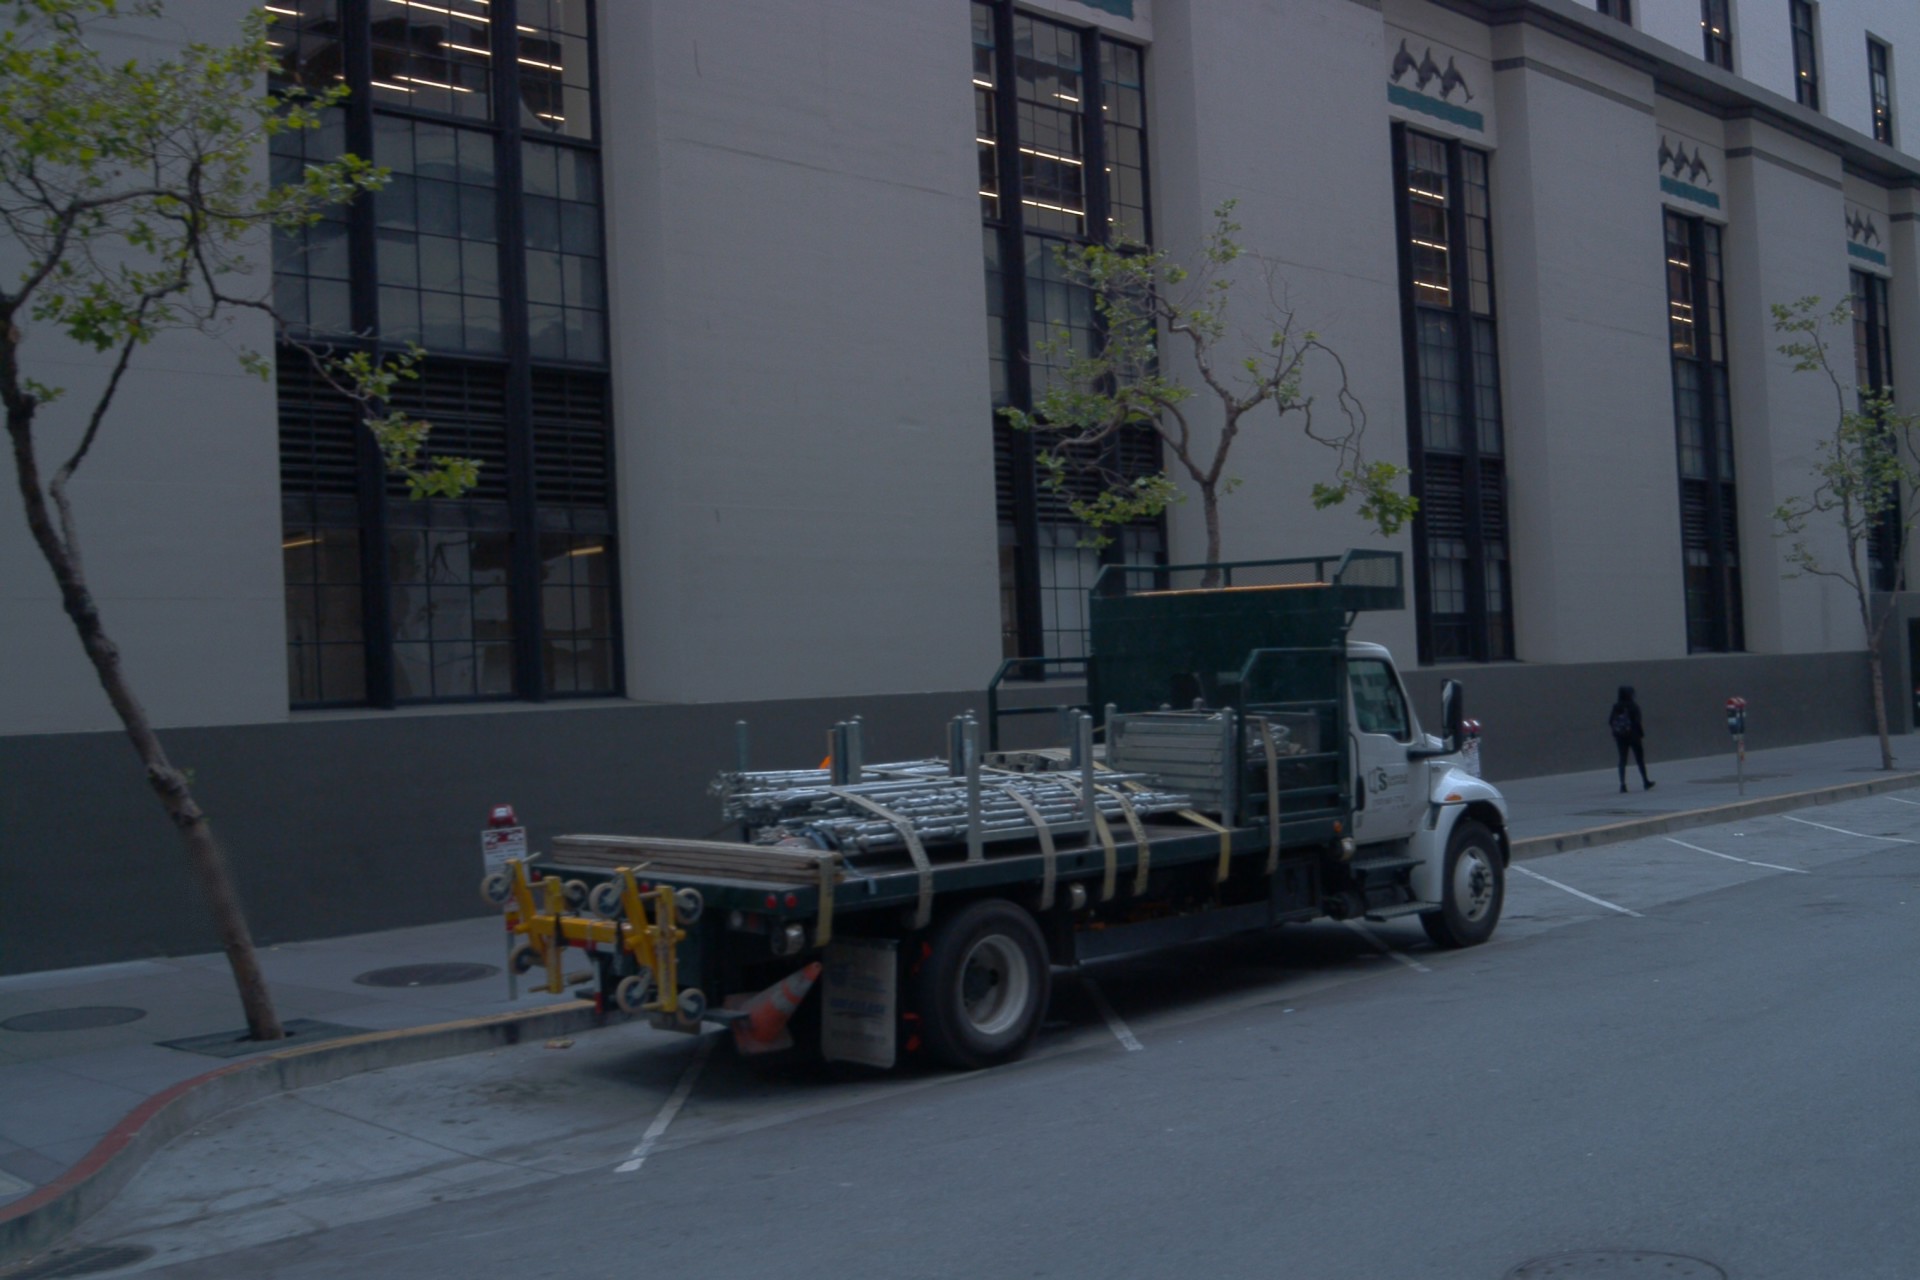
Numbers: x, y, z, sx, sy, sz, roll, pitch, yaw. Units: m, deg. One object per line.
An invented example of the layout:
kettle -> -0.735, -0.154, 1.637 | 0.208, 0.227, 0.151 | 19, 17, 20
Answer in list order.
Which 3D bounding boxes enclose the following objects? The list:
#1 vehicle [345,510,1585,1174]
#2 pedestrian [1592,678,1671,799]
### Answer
vehicle -> 0.674, 0.946, 14.670 | 9.223, 3.310, 3.229 | -1, 1, -45
pedestrian -> 9.680, 1.399, 29.741 | 0.882, 1.680, 0.736 | -1, 1, -42
